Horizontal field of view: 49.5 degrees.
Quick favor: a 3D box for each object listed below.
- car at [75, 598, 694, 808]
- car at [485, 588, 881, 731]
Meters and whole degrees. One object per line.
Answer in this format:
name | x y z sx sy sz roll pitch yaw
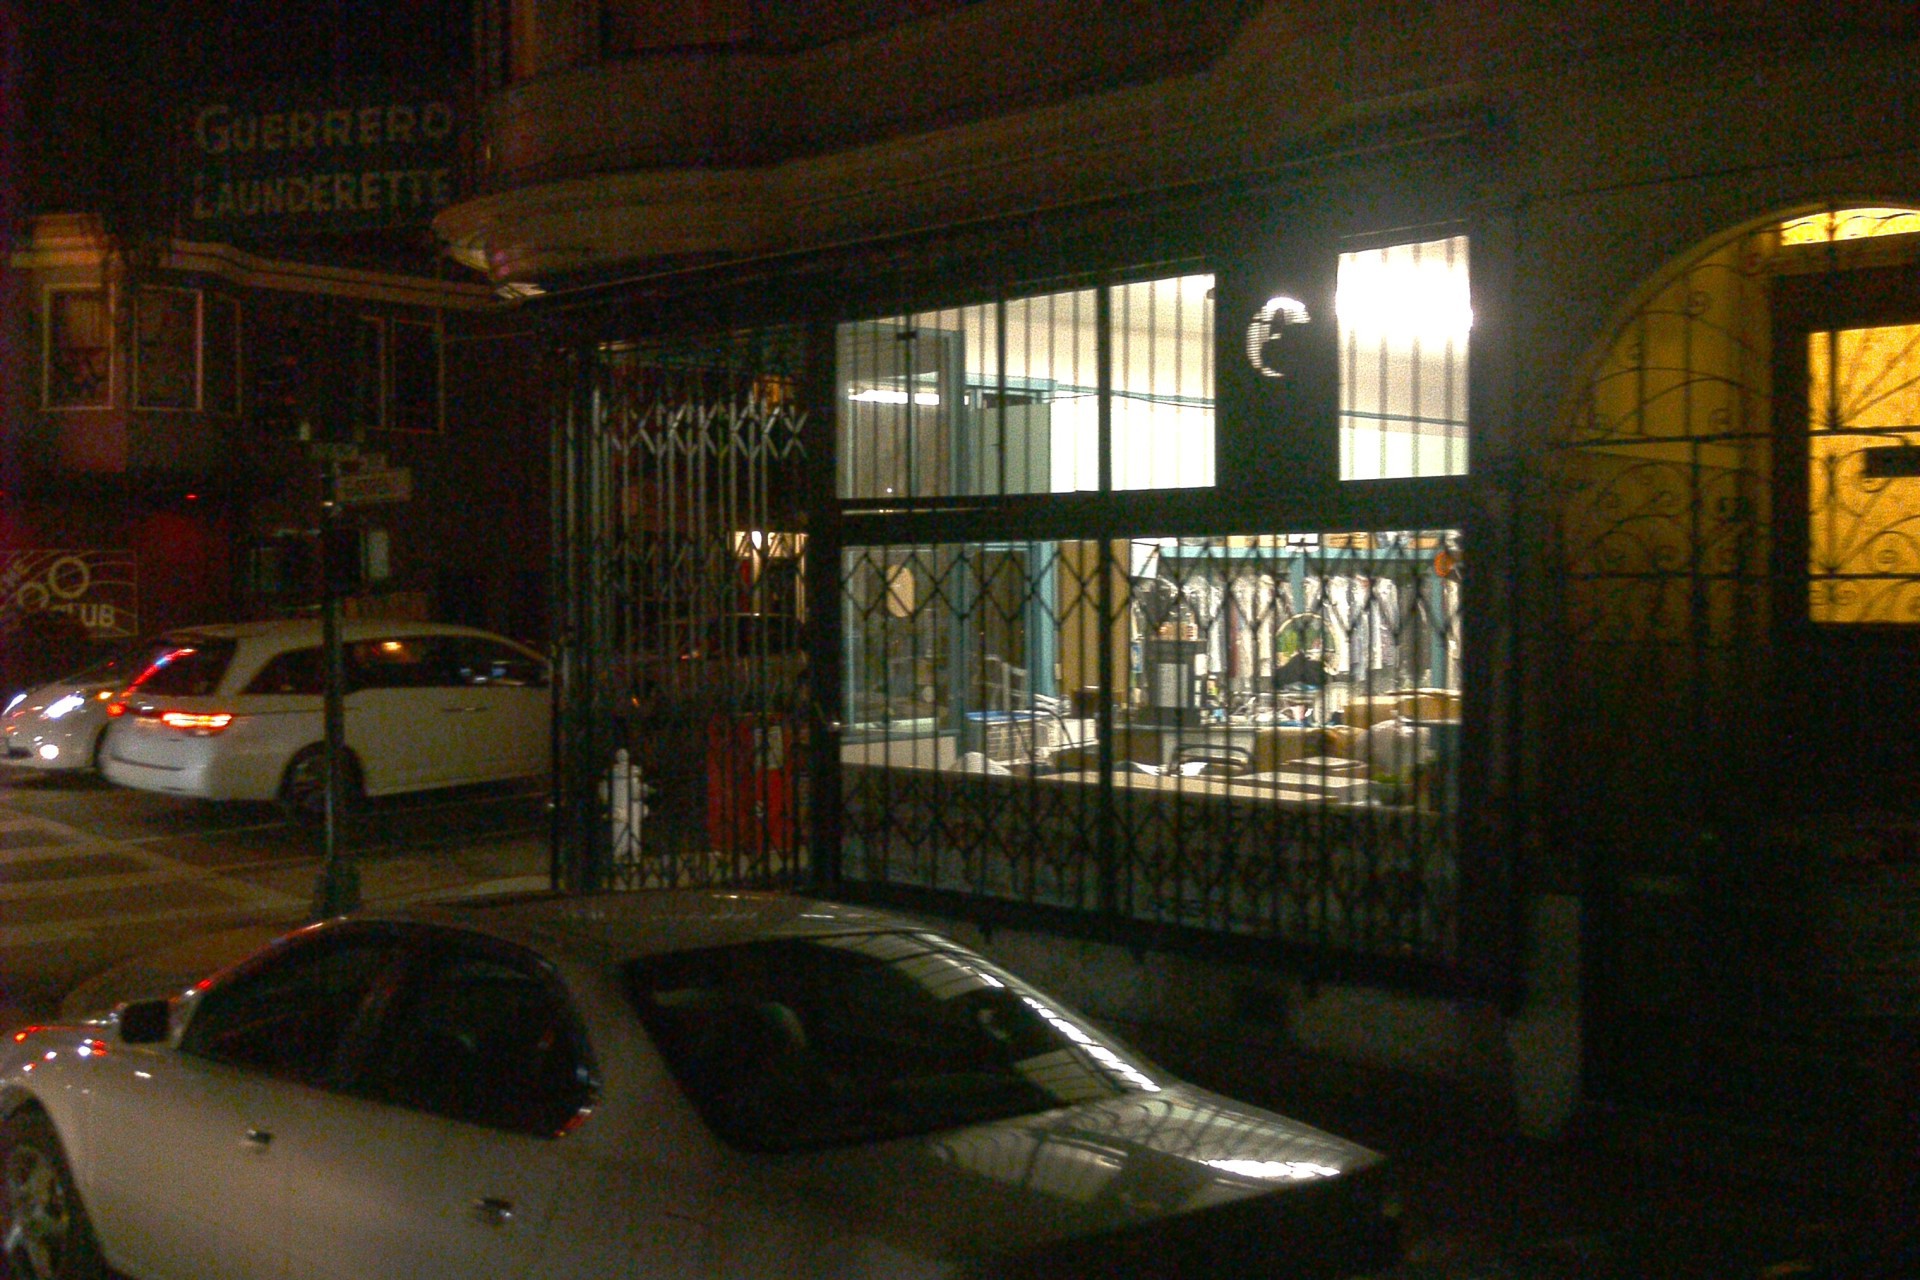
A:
car | -5.318 0.534 19.813 2.380 1.720 5.188 1 0 42
car | -3.584 0.254 27.529 4.809 1.720 2.142 1 0 -42
